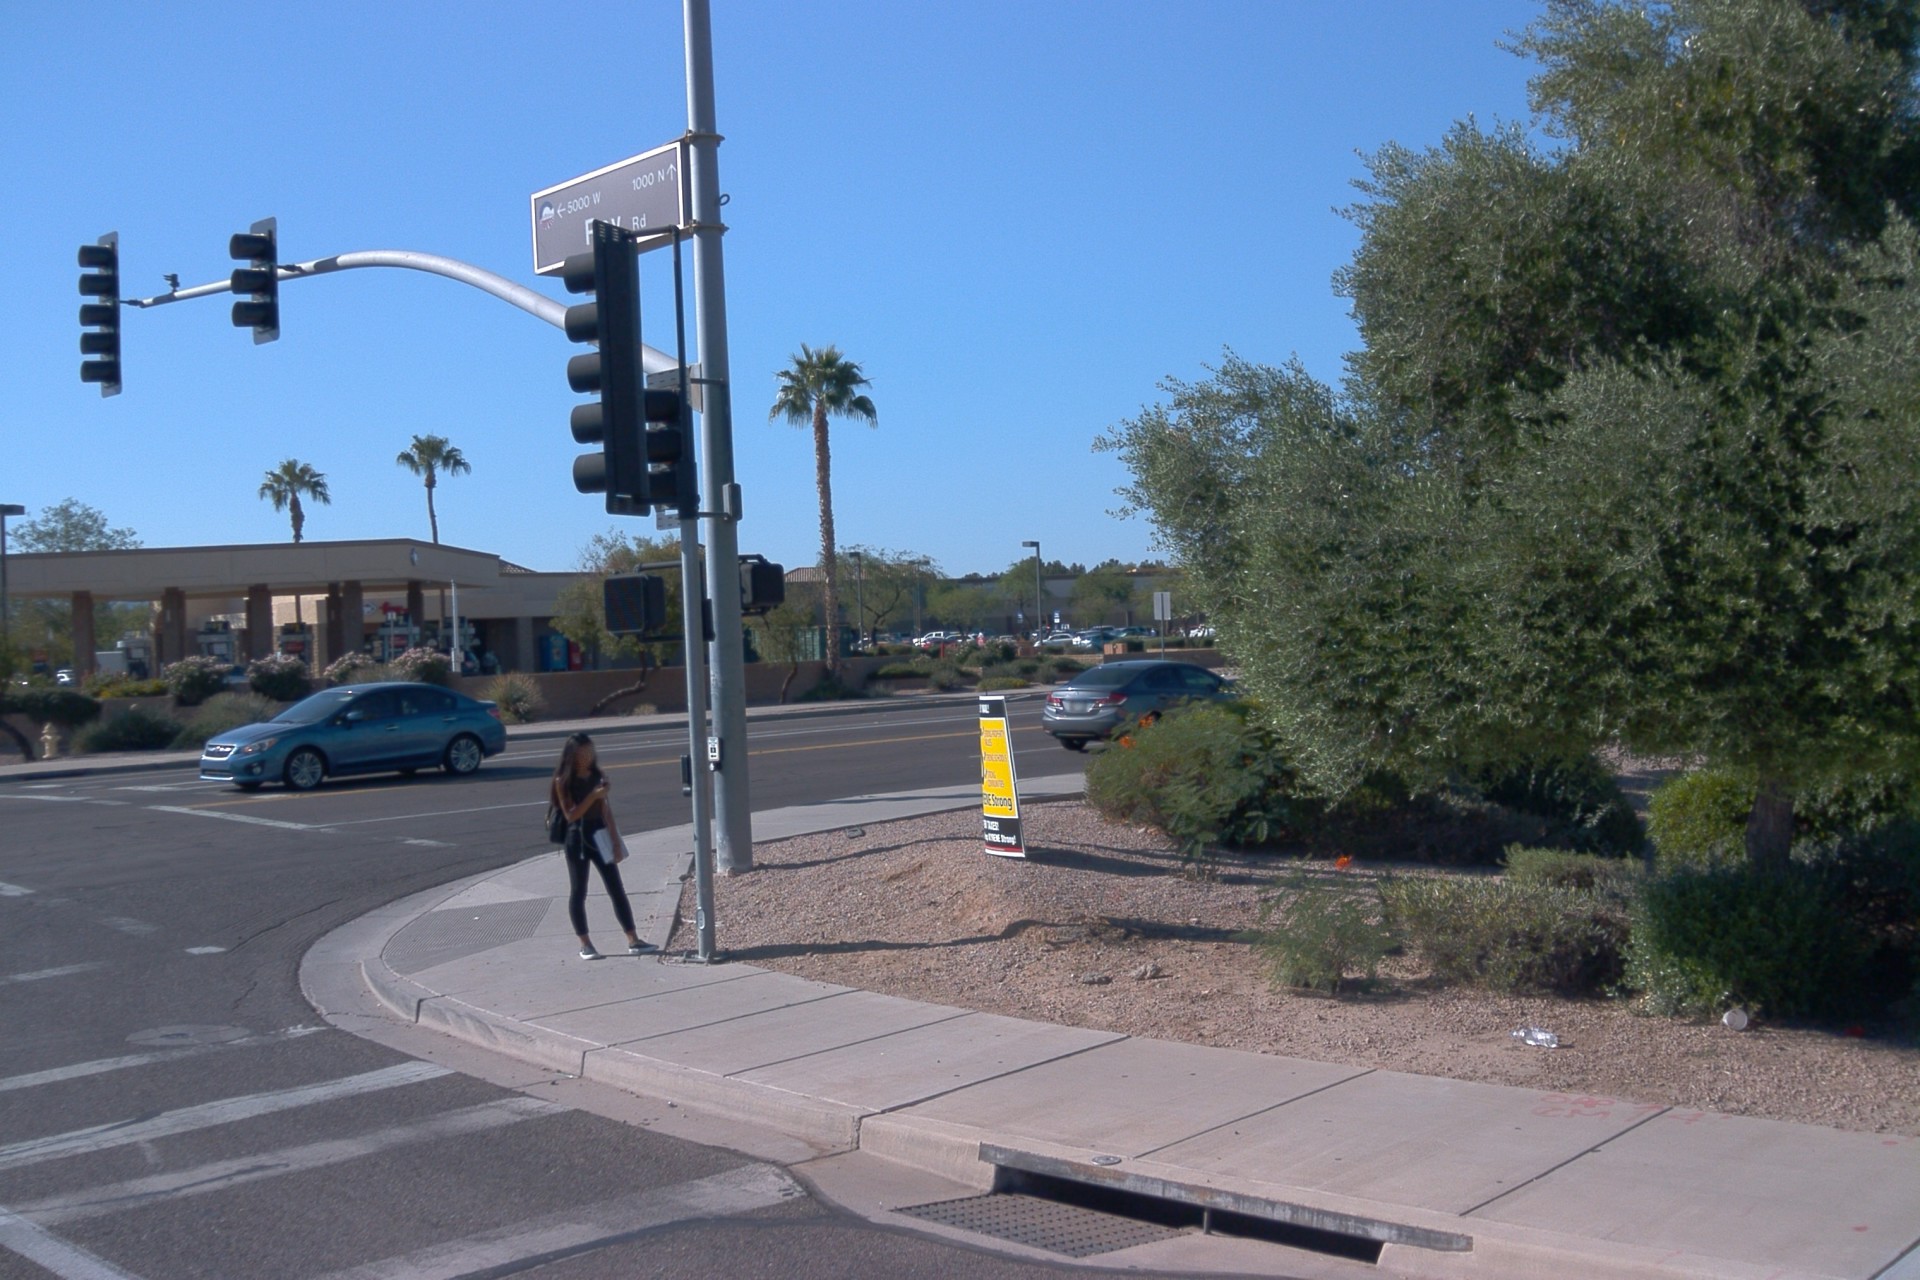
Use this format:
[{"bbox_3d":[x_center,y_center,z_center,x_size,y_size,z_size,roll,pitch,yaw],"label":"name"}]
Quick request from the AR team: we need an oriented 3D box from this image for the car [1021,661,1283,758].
[{"bbox_3d":[3.226,1.098,34.289,1.991,1.470,4.499,-2,-1,42],"label":"car"}]

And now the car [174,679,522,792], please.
[{"bbox_3d":[-9.073,1.376,31.154,2.029,1.510,4.598,-2,-1,42],"label":"car"}]

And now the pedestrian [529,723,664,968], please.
[{"bbox_3d":[-2.514,1.385,14.358,0.668,1.590,0.903,0,-1,-27],"label":"pedestrian"}]
